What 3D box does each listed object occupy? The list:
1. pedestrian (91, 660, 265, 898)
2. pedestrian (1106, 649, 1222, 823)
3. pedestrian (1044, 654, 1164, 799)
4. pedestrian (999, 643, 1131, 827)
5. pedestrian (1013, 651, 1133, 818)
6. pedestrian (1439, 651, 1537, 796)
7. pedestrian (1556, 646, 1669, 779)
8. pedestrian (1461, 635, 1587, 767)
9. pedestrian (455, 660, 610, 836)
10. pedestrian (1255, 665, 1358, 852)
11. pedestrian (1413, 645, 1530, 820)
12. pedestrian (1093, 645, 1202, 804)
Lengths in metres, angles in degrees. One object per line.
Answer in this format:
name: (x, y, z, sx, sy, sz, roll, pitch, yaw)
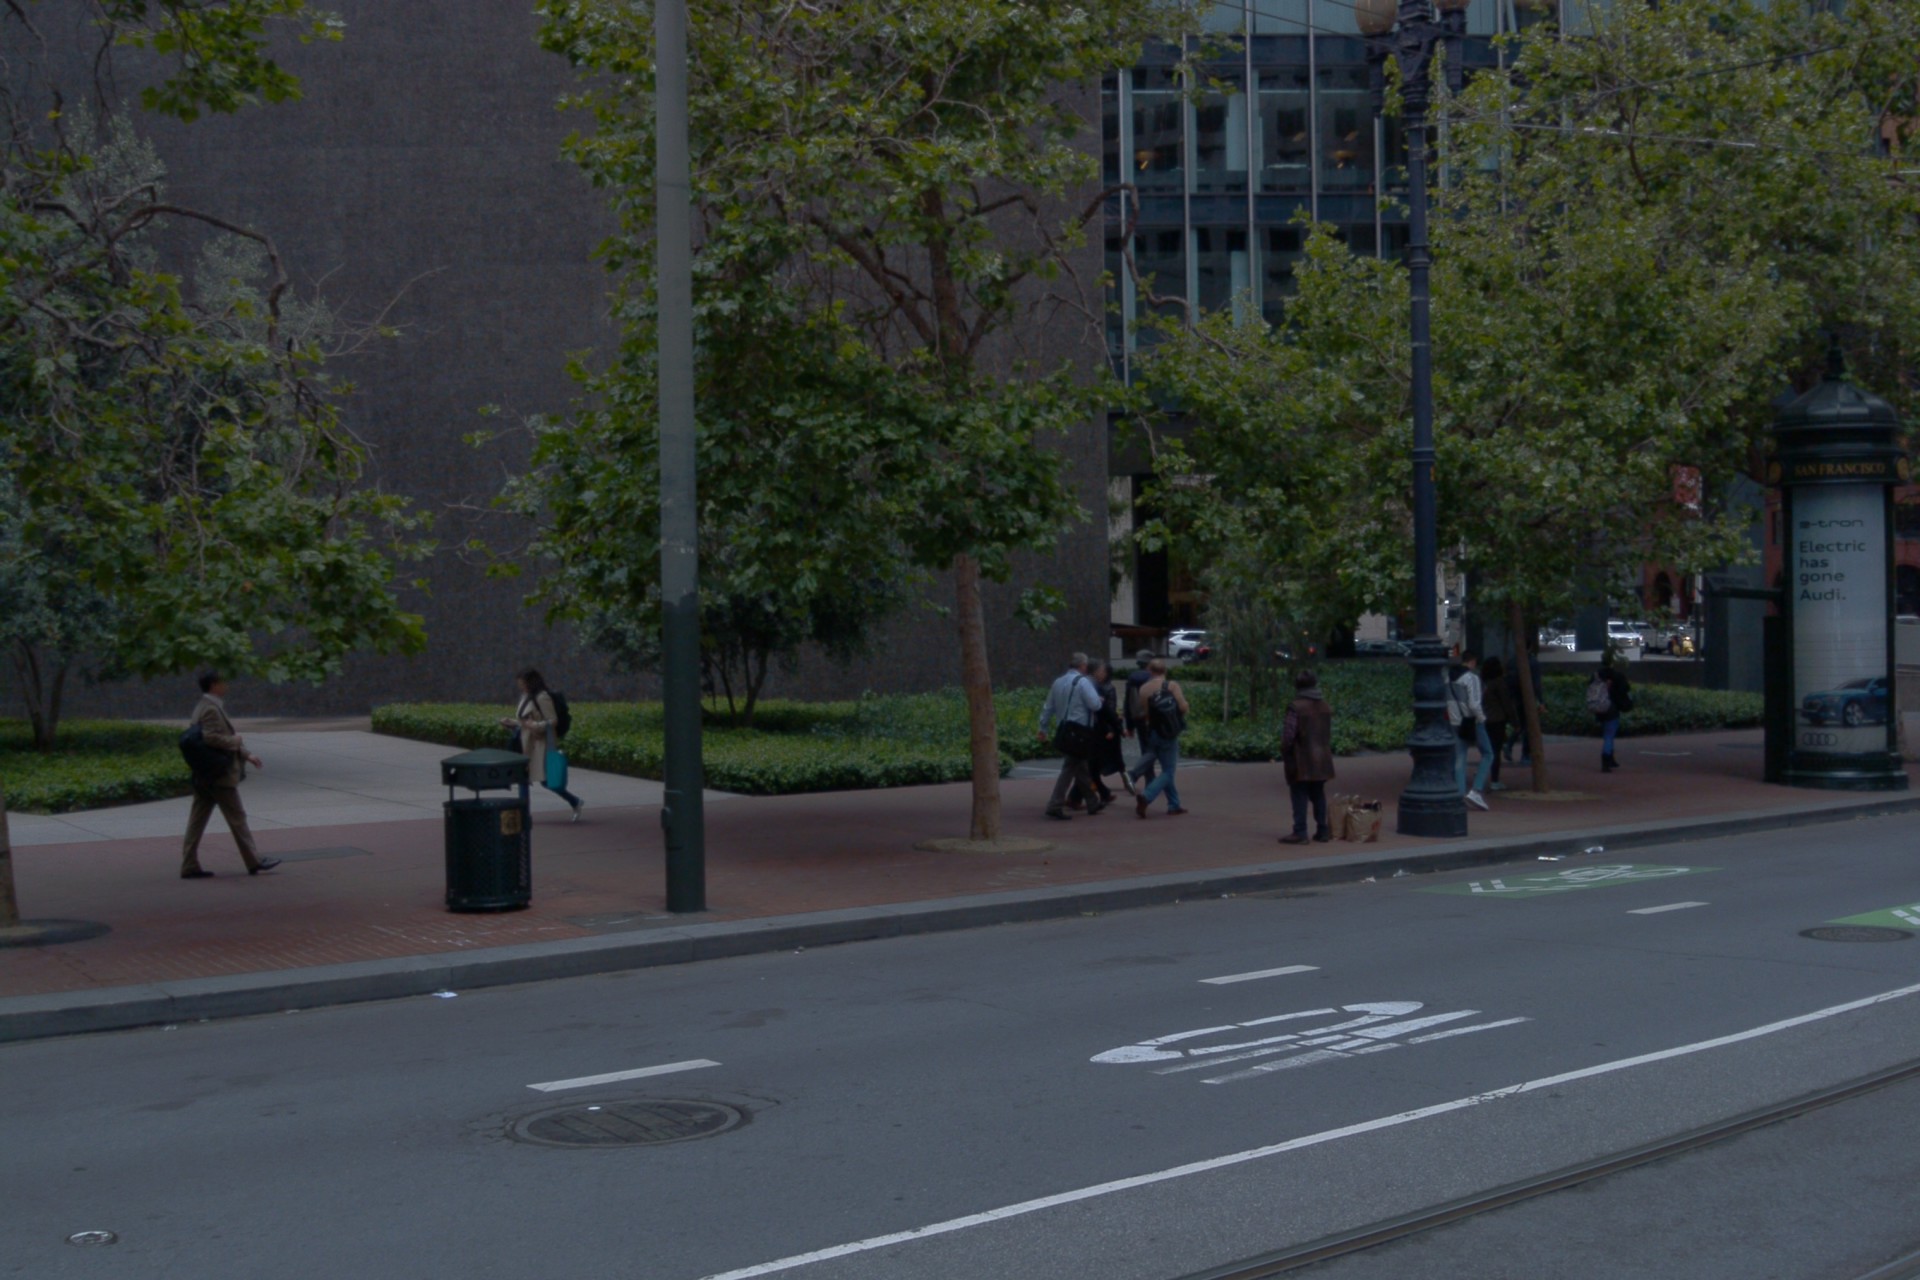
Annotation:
pedestrian: (-6.562, 1.119, 17.246, 1.104, 1.880, 1.023, -1, 1, -38)
pedestrian: (2.234, 1.026, 22.475, 1.081, 1.830, 0.731, -1, 1, -43)
pedestrian: (1.763, 1.033, 25.139, 1.179, 1.700, 0.923, -1, 1, -45)
pedestrian: (1.121, 0.988, 22.048, 1.018, 1.900, 0.988, -1, 1, -39)
pedestrian: (1.264, 1.029, 23.043, 1.018, 1.800, 0.880, -1, 1, -40)
pedestrian: (6.692, 1.033, 26.058, 1.016, 1.770, 0.768, -1, 1, -42)
pedestrian: (8.999, 0.972, 28.394, 1.062, 1.770, 1.050, -1, 1, -35)
pedestrian: (8.156, 0.852, 29.749, 1.362, 1.840, 1.139, 0, 1, -33)
pedestrian: (-4.374, 1.074, 21.037, 1.151, 1.700, 1.139, -1, 1, -40)
pedestrian: (3.381, 1.133, 20.074, 0.795, 1.760, 0.638, -1, 1, -44)
pedestrian: (5.821, 1.023, 23.422, 1.125, 1.920, 0.742, -1, 1, -37)
pedestrian: (2.233, 0.983, 24.515, 0.940, 1.830, 0.886, -1, 1, -44)
